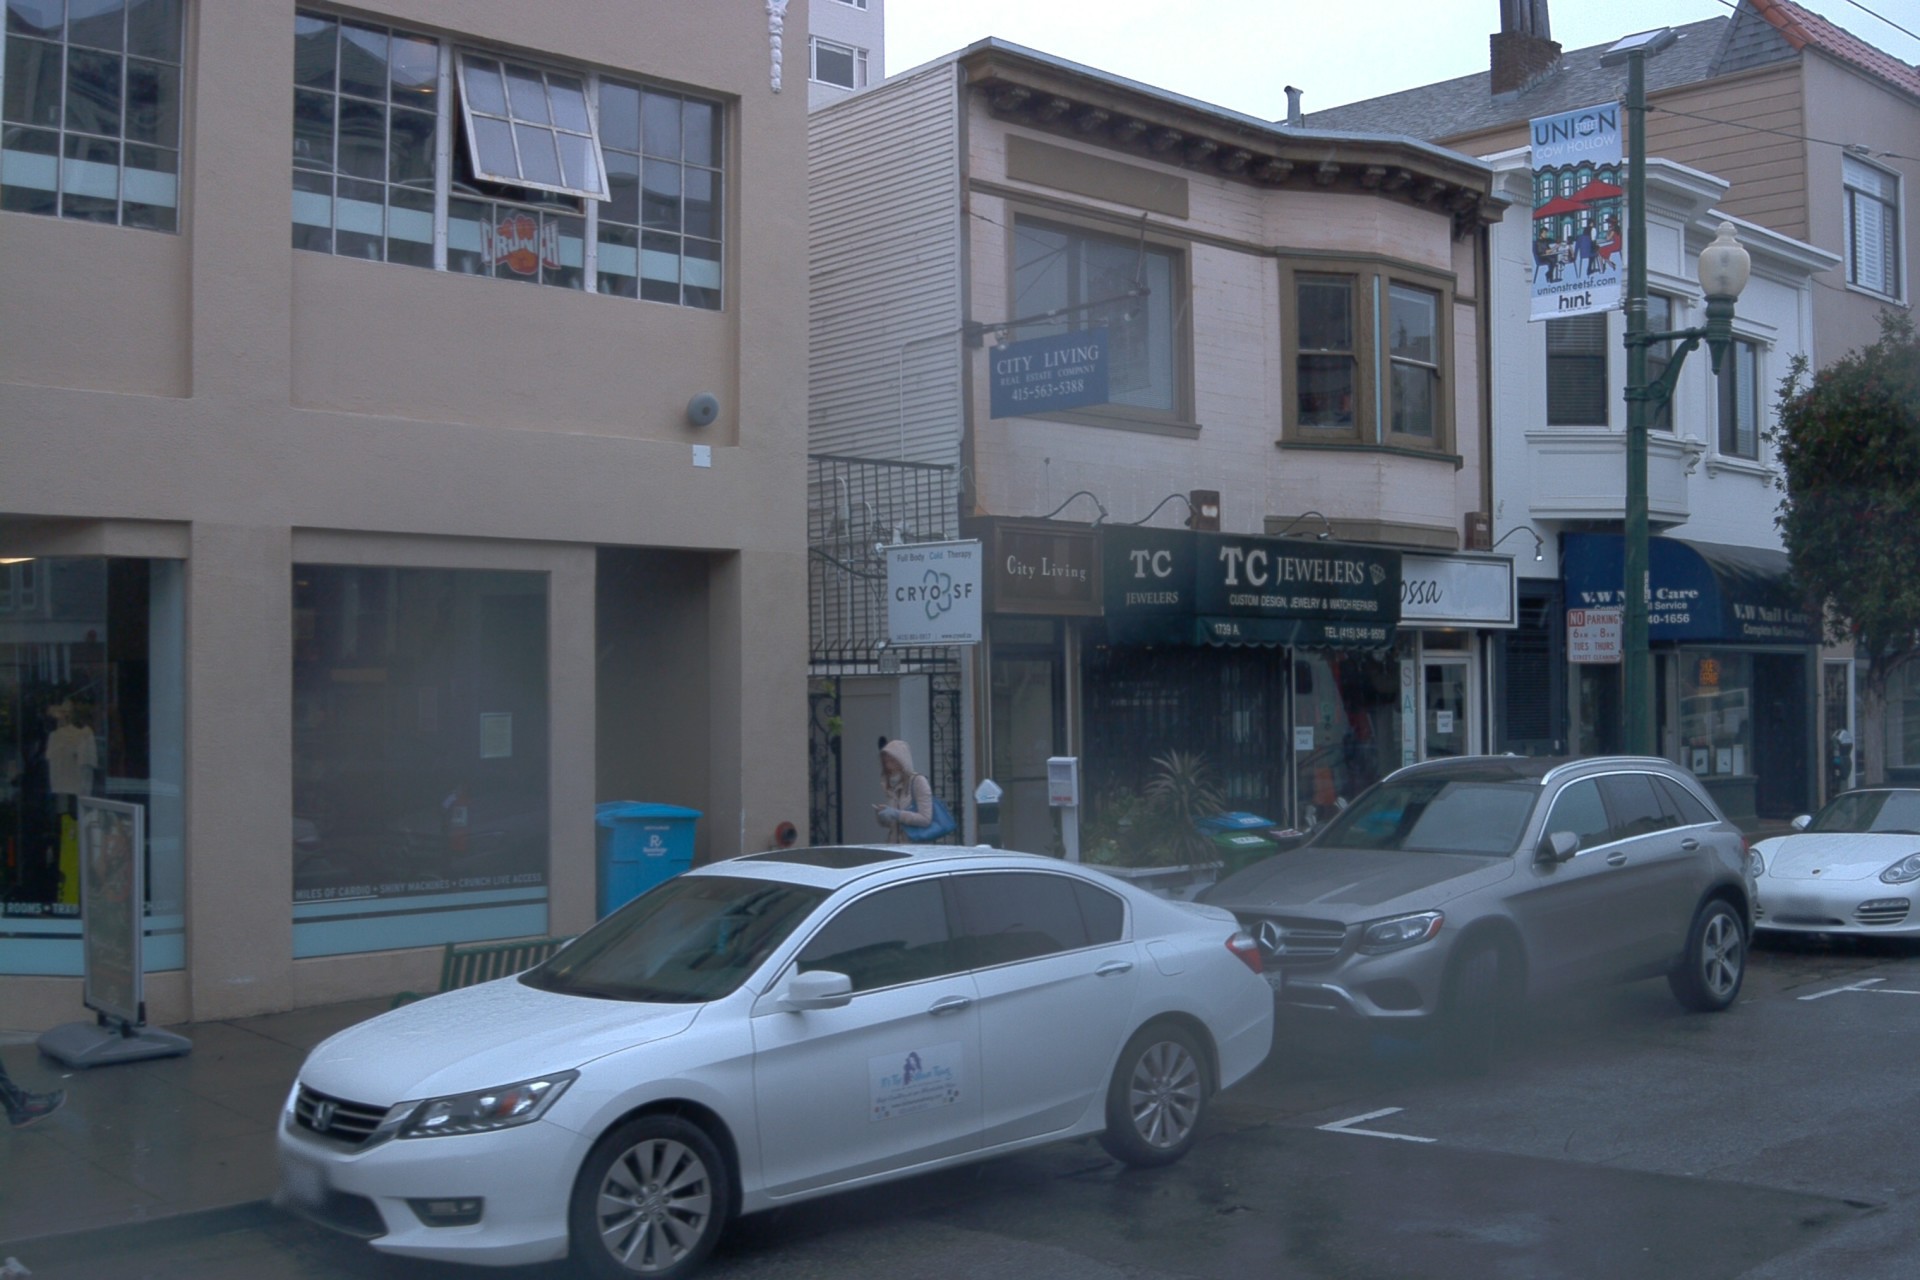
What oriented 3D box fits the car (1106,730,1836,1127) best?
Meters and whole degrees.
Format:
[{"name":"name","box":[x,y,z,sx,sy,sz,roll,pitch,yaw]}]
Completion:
[{"name":"car","box":[3.367,1.566,12.942,4.932,1.760,2.142,0,1,-45]}]

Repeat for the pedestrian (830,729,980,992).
[{"name":"pedestrian","box":[-0.380,1.512,14.466,0.646,1.720,0.803,2,1,44]}]

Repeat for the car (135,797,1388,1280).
[{"name":"car","box":[-0.574,1.654,8.962,5.148,1.540,2.124,0,1,-43]}]
